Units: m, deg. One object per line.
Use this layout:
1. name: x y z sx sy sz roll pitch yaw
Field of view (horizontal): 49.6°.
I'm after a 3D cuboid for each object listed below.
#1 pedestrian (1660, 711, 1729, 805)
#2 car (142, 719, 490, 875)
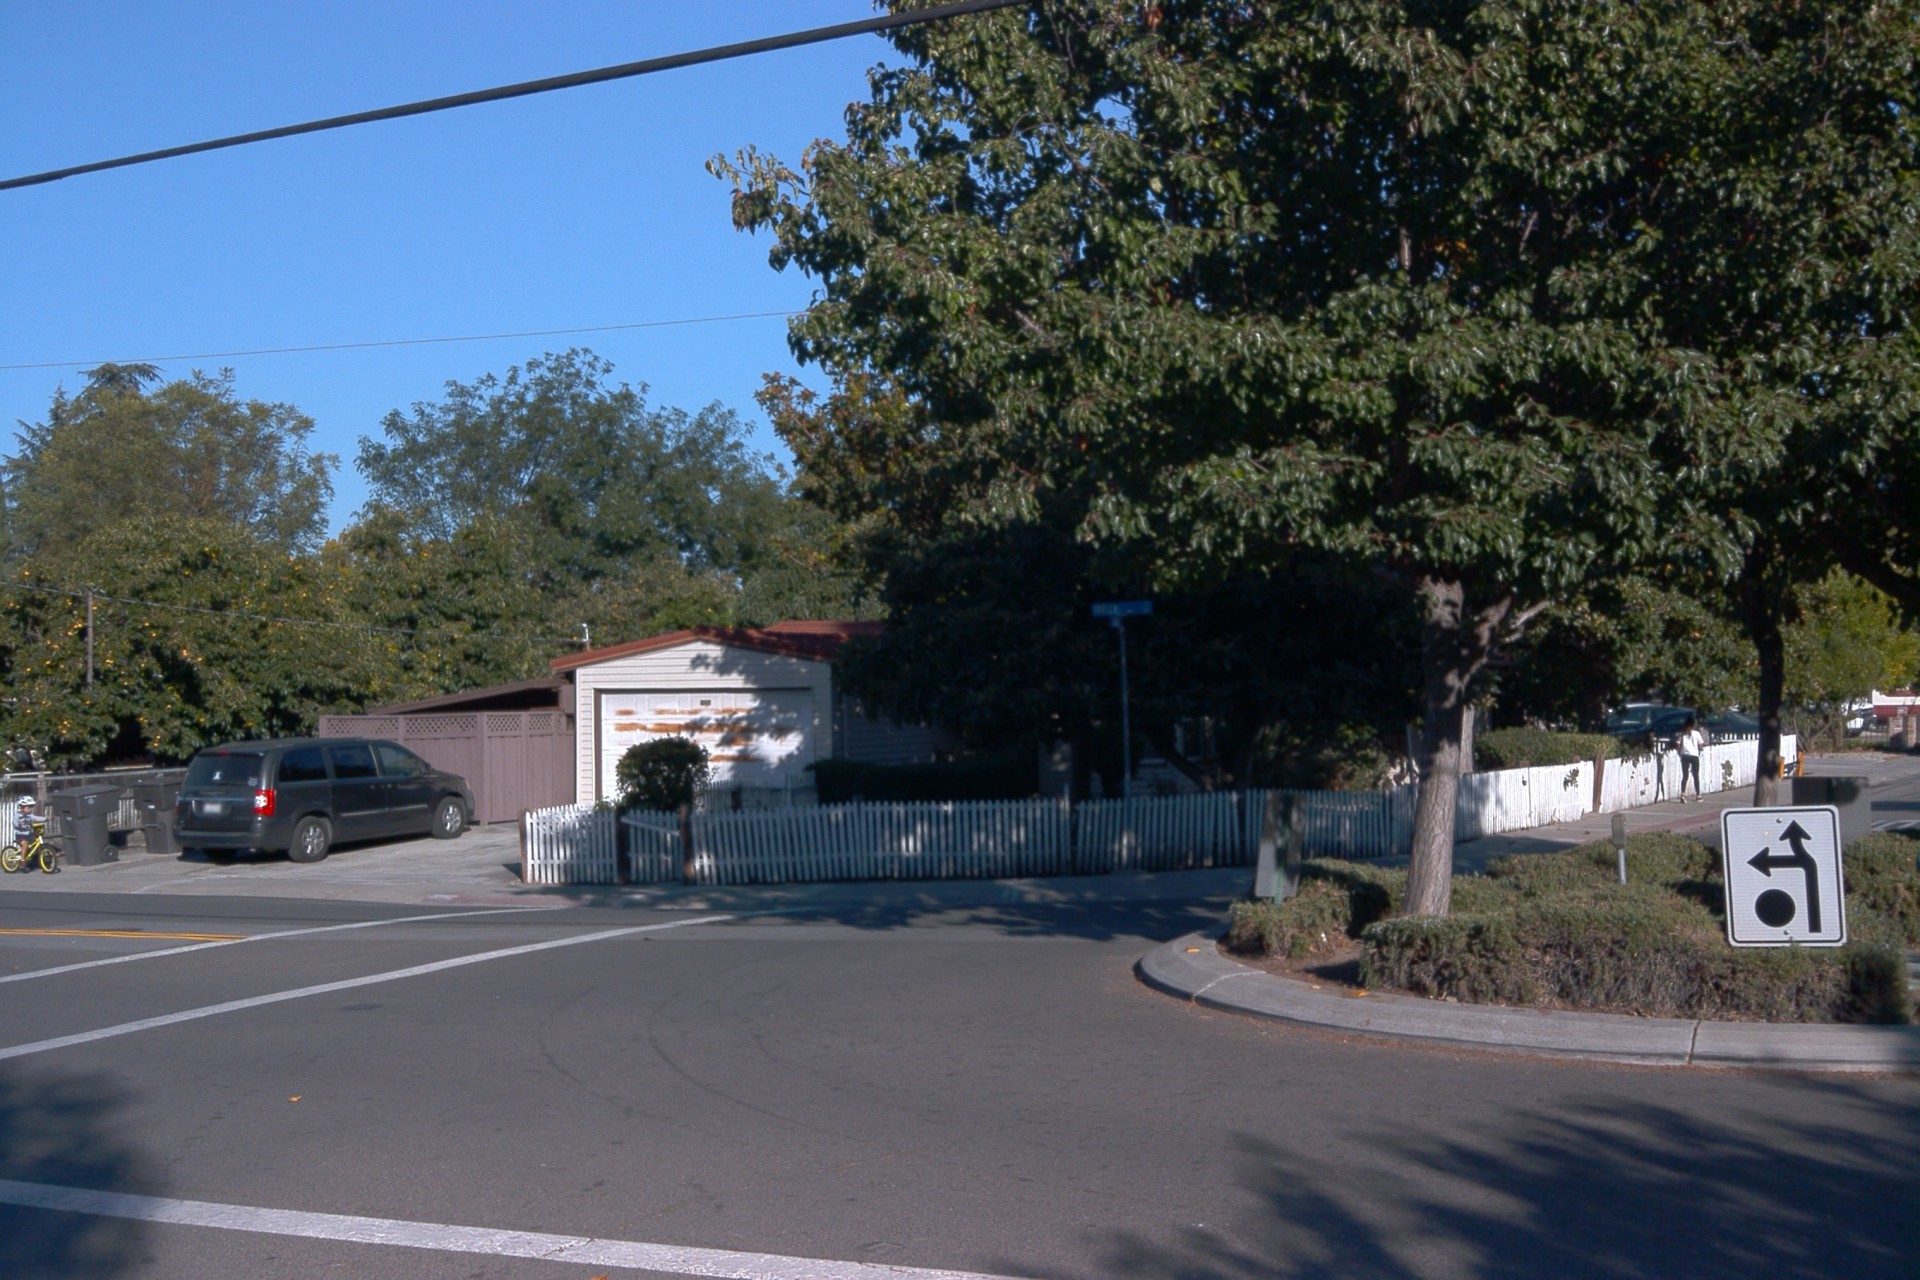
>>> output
1. pedestrian: 12.916 2.056 36.546 0.836 1.580 1.184 1 0 35
2. car: -9.505 2.246 31.151 2.140 1.930 4.988 1 0 25
